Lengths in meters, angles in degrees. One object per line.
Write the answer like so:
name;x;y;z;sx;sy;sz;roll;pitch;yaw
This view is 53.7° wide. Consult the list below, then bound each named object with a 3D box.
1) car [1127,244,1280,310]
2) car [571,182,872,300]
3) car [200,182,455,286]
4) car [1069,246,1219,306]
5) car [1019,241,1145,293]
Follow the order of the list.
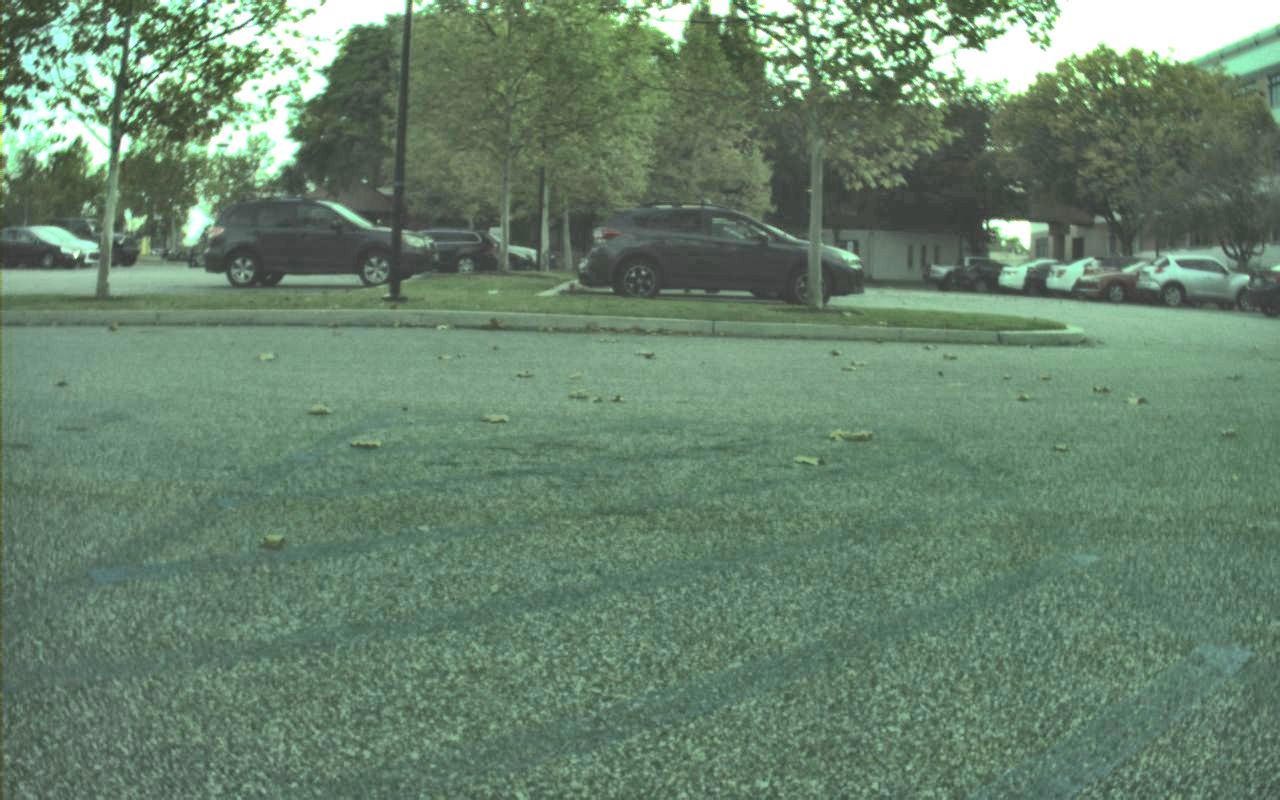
car;16.387;-3.450;33.440;4.507;1.640;1.958;1;1;4
car;1.246;-2.512;20.281;4.655;1.657;1.979;0;1;-3
car;-5.927;-3.086;23.234;4.580;1.718;1.984;0;1;0
car;15.462;-3.709;36.180;4.485;1.622;1.955;1;1;4
car;16.212;-4.797;43.968;4.409;1.649;1.950;0;1;-2
